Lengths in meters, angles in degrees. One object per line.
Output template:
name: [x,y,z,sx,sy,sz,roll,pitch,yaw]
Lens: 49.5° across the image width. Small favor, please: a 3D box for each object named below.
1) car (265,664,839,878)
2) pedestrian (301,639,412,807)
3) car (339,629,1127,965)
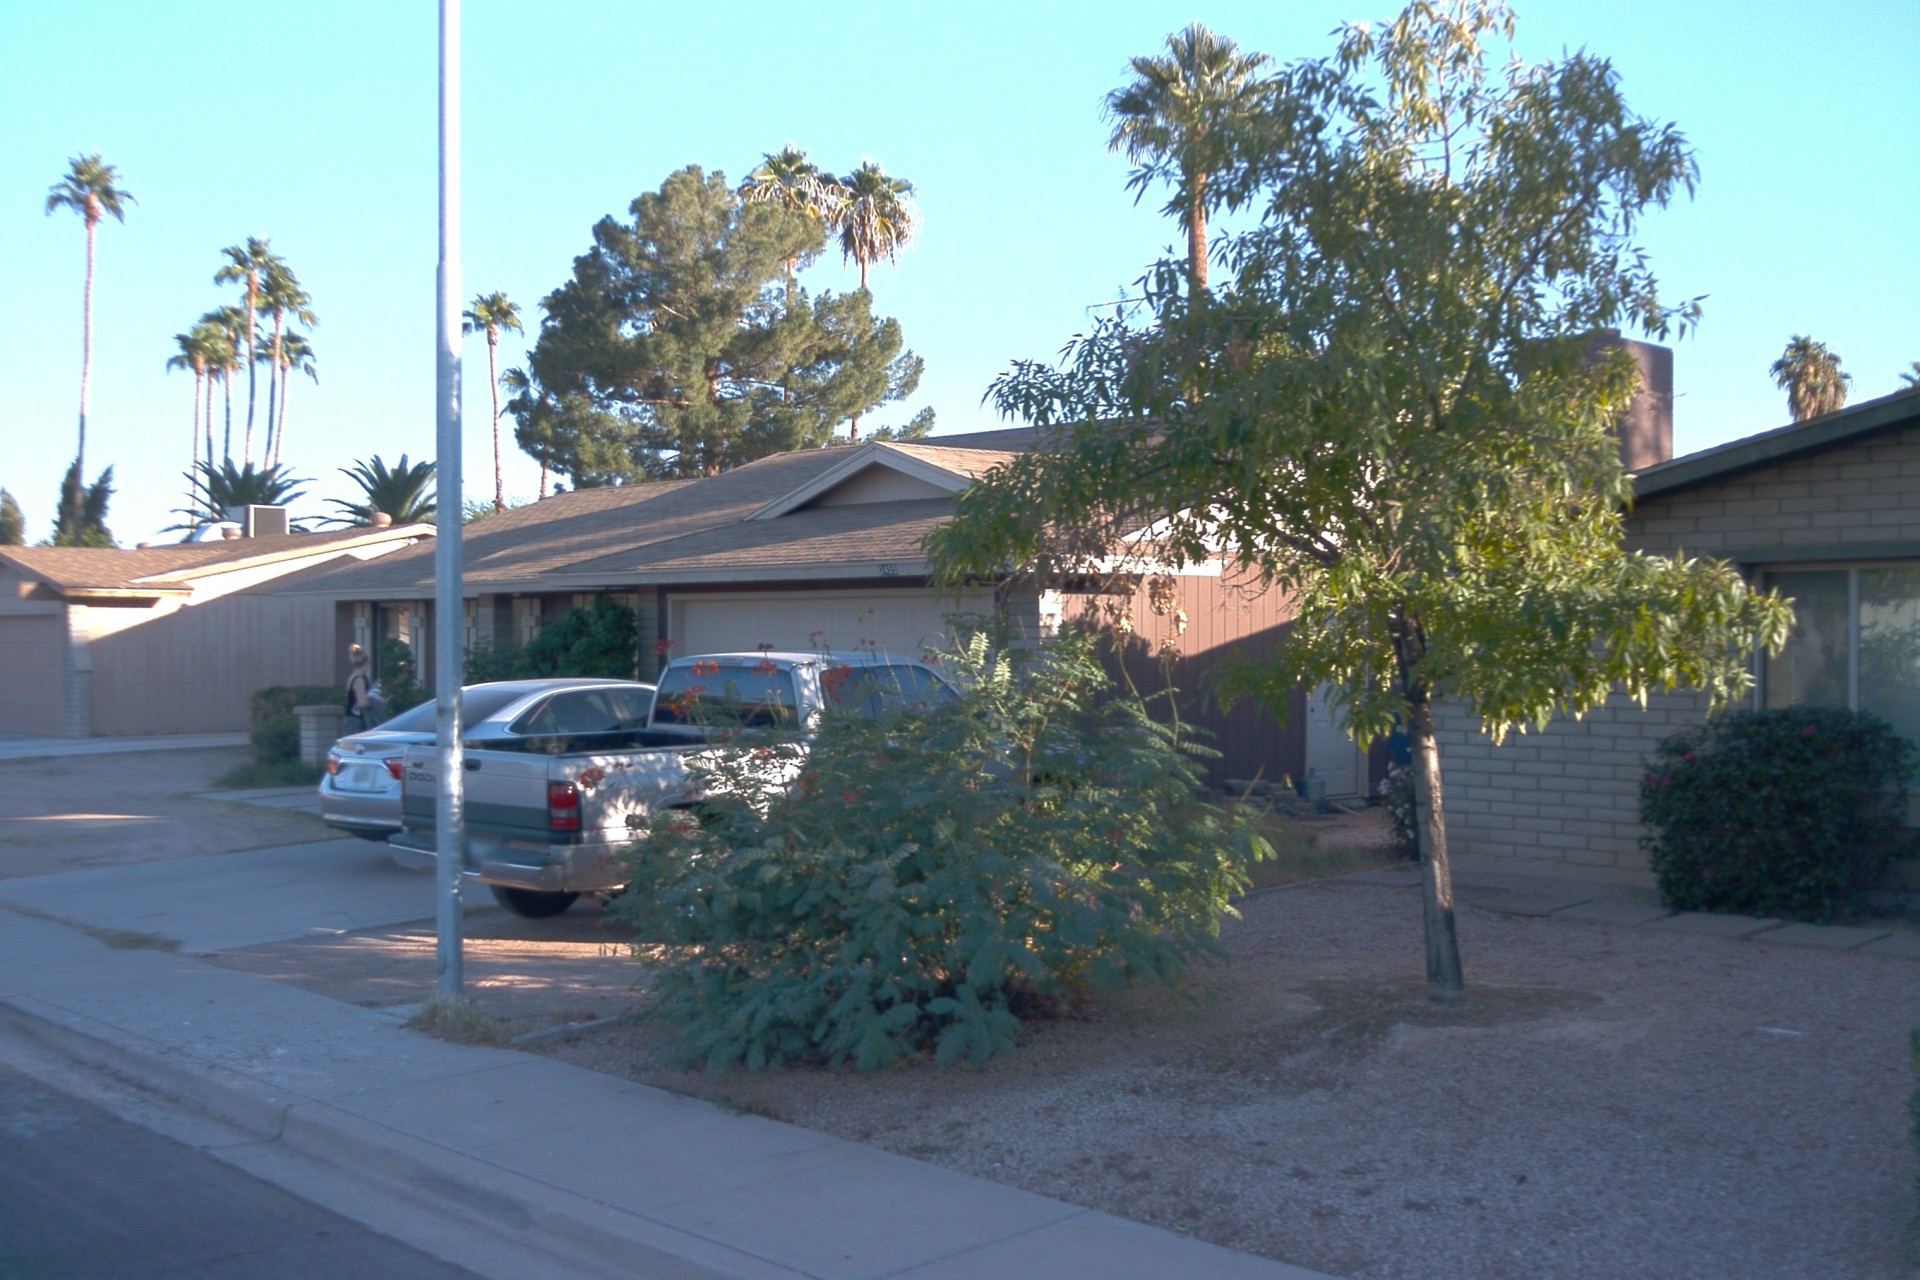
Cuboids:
car: [-3.516,1.060,18.654,2.133,1.640,4.666,0,0,43]
pedestrian: [-6.481,0.875,22.381,0.825,1.750,0.878,1,0,-42]
car: [-1.436,0.970,15.244,2.409,2.000,5.468,0,0,43]
